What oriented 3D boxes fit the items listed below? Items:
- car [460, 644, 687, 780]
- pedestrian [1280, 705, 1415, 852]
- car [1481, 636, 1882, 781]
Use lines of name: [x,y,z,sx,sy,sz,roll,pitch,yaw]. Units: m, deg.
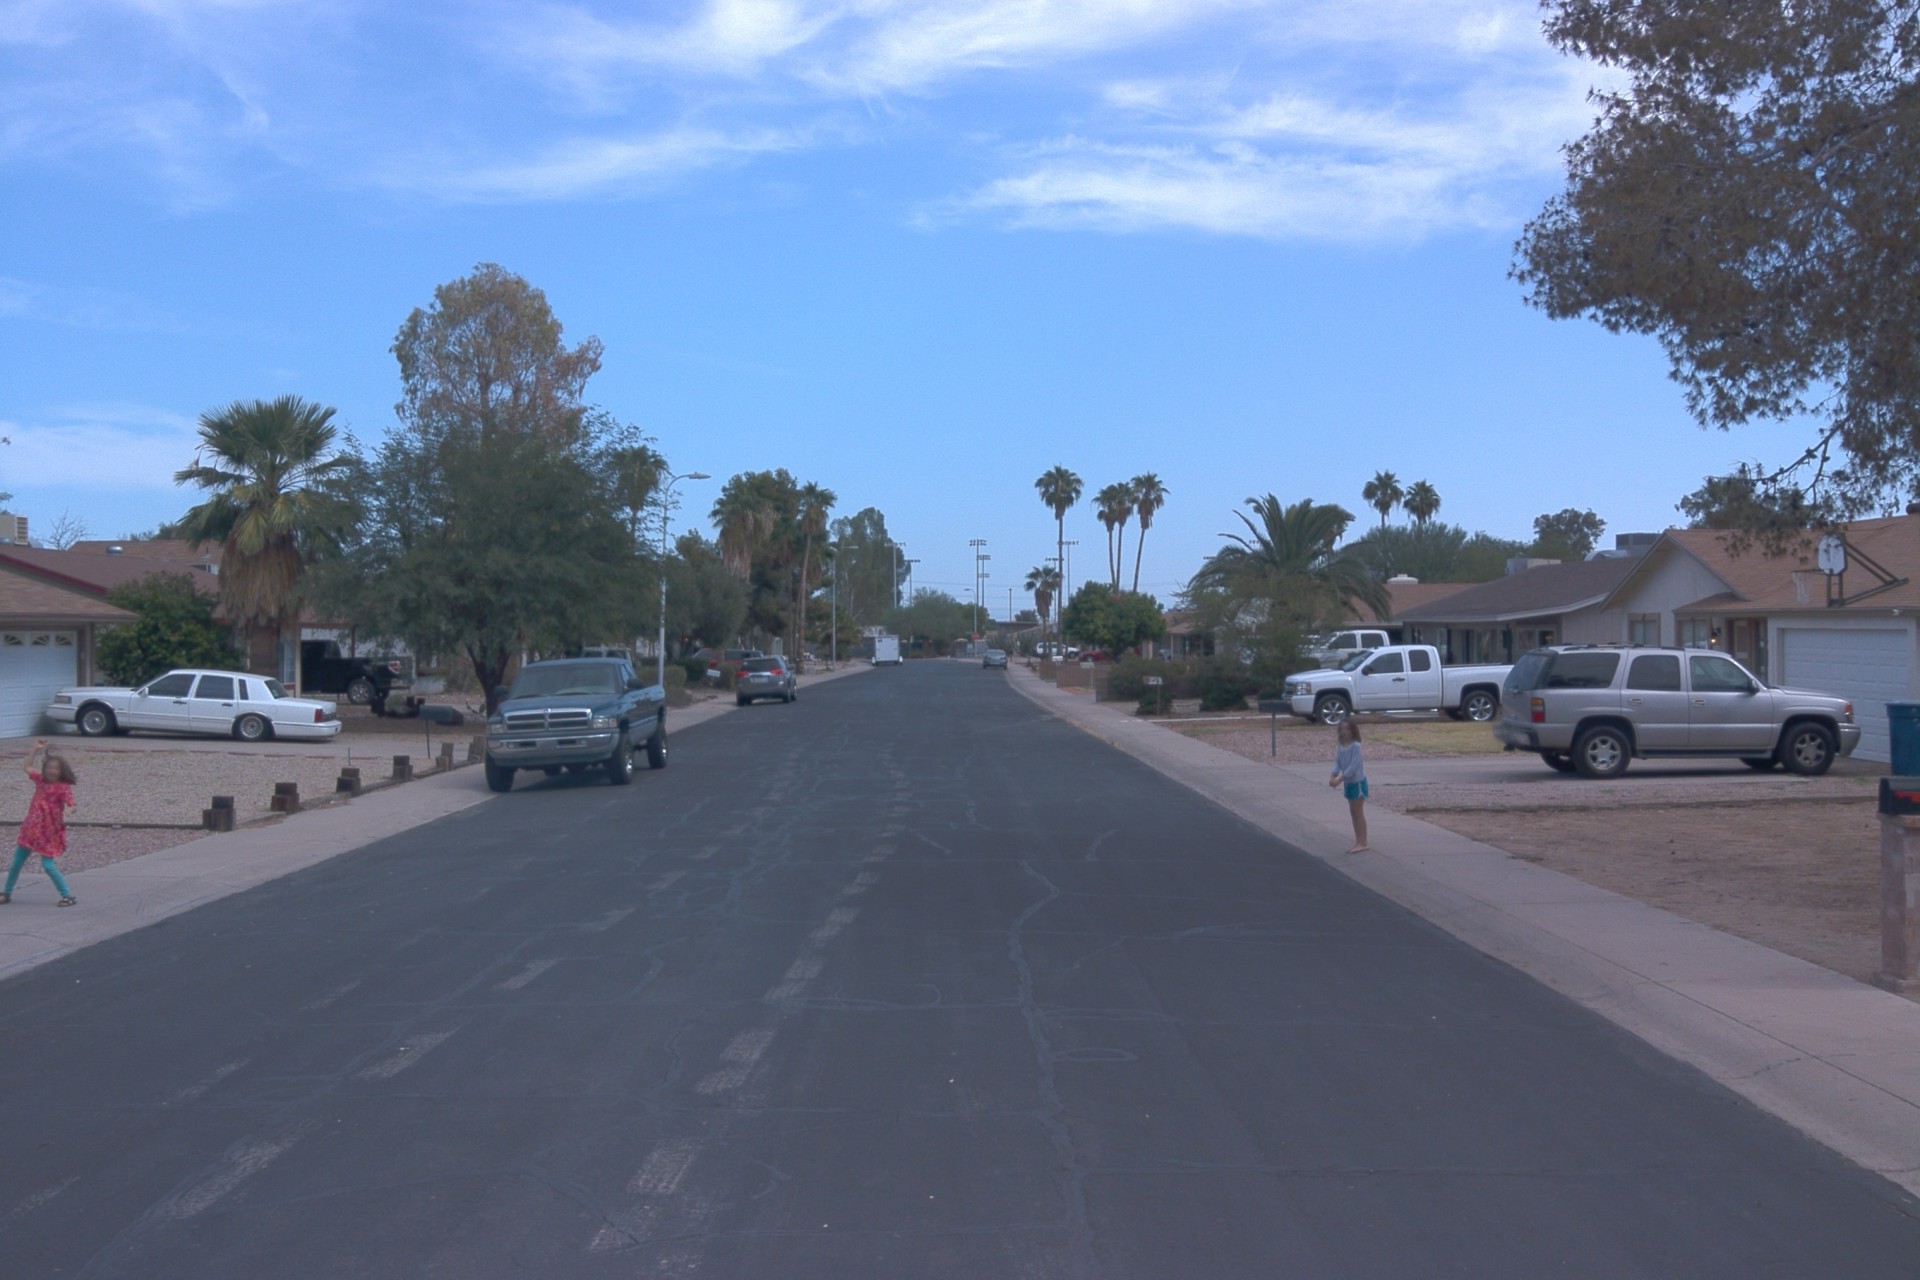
car: [-6.078,1.083,33.462,2.461,1.980,6.208,0,-1,0]
pedestrian: [3.887,1.375,20.839,1.132,1.420,0.947,1,0,-3]
car: [10.355,0.964,30.019,5.036,1.990,2.155,0,0,0]
